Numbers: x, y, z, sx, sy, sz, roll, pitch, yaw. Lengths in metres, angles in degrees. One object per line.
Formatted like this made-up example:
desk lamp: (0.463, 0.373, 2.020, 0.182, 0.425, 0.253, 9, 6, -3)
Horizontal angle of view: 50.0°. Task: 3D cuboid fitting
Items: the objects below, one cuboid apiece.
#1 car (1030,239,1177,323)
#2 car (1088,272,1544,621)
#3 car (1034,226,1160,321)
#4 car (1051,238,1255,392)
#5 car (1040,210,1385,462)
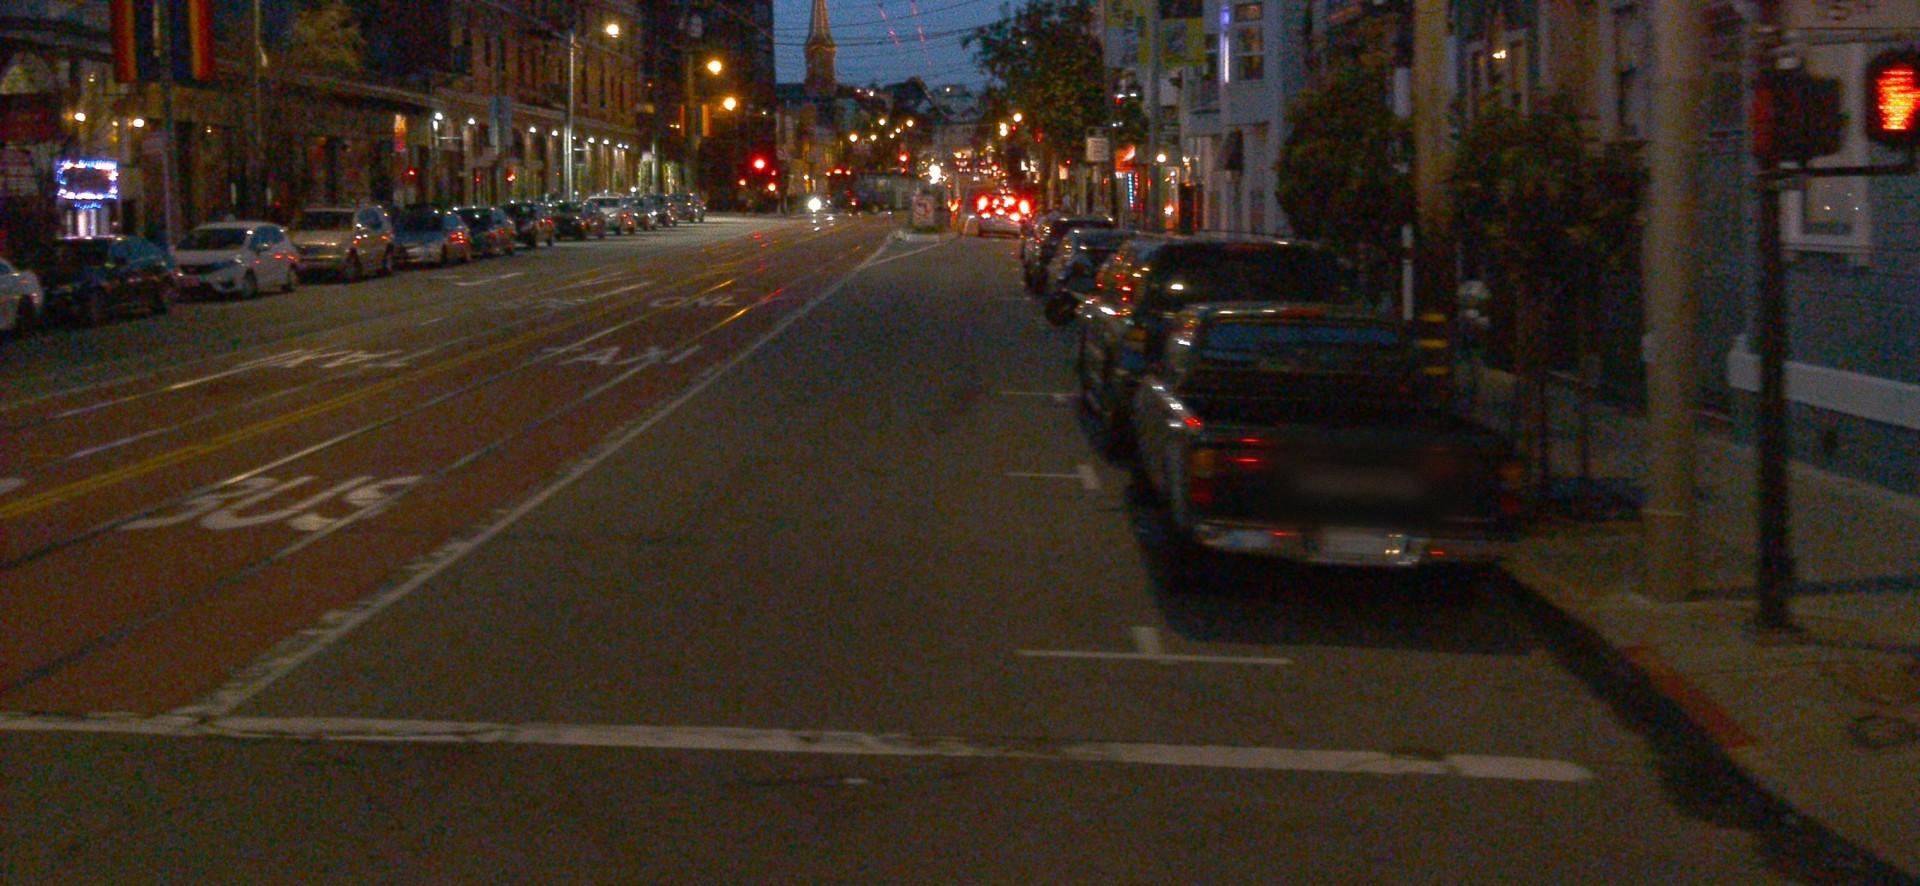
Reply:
car: (2.284, -2.575, 32.546, 2.284, 1.307, 0.838, 1, 3, 7)
car: (1.900, -0.202, 12.670, 2.038, 1.582, 5.239, 0, 6, 2)
car: (2.393, -3.087, 36.848, 1.900, 1.603, 4.200, 0, 5, -1)
car: (2.149, -1.557, 23.885, 1.977, 1.623, 3.809, 0, 5, -1)
car: (2.017, -1.104, 18.370, 2.422, 1.901, 5.602, 0, 6, 0)
